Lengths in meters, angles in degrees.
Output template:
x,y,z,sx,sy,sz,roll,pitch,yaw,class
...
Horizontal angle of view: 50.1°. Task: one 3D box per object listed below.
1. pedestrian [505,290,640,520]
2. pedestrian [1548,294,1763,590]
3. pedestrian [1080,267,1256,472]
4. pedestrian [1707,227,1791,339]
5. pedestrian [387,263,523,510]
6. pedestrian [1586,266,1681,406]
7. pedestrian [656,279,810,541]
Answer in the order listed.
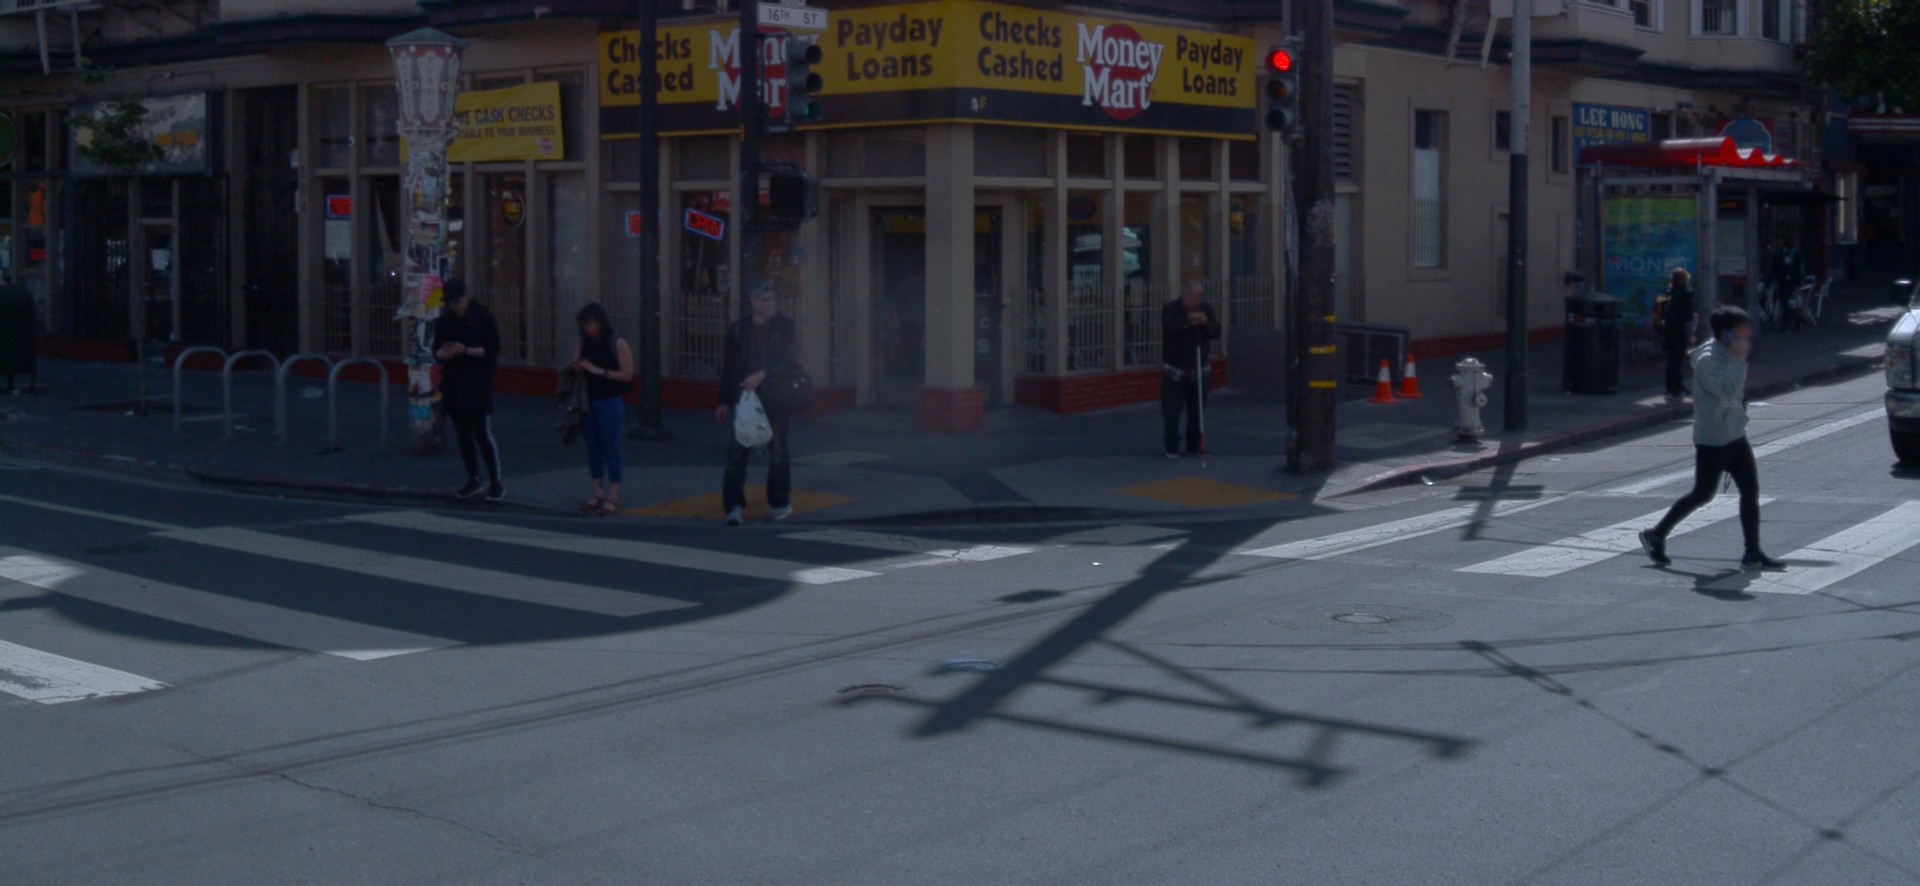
x,y,z,sx,sy,sz,roll,pitch,yaw,class
-3.078,-0.332,16.393,0.696,1.749,0.933,0,1,18,pedestrian
4.344,-0.054,12.840,0.918,1.719,0.965,-1,2,-45,pedestrian
1.912,-0.720,18.989,1.004,1.789,1.327,-1,2,-35,pedestrian
12.744,-2.601,33.185,0.978,1.759,0.955,-2,2,-45,pedestrian
-4.086,-0.491,16.633,0.746,1.919,0.769,1,1,36,pedestrian
7.875,-1.266,24.053,0.837,1.609,0.677,0,1,-9,pedestrian
-1.736,-0.293,15.886,0.935,1.919,1.114,0,2,8,pedestrian
